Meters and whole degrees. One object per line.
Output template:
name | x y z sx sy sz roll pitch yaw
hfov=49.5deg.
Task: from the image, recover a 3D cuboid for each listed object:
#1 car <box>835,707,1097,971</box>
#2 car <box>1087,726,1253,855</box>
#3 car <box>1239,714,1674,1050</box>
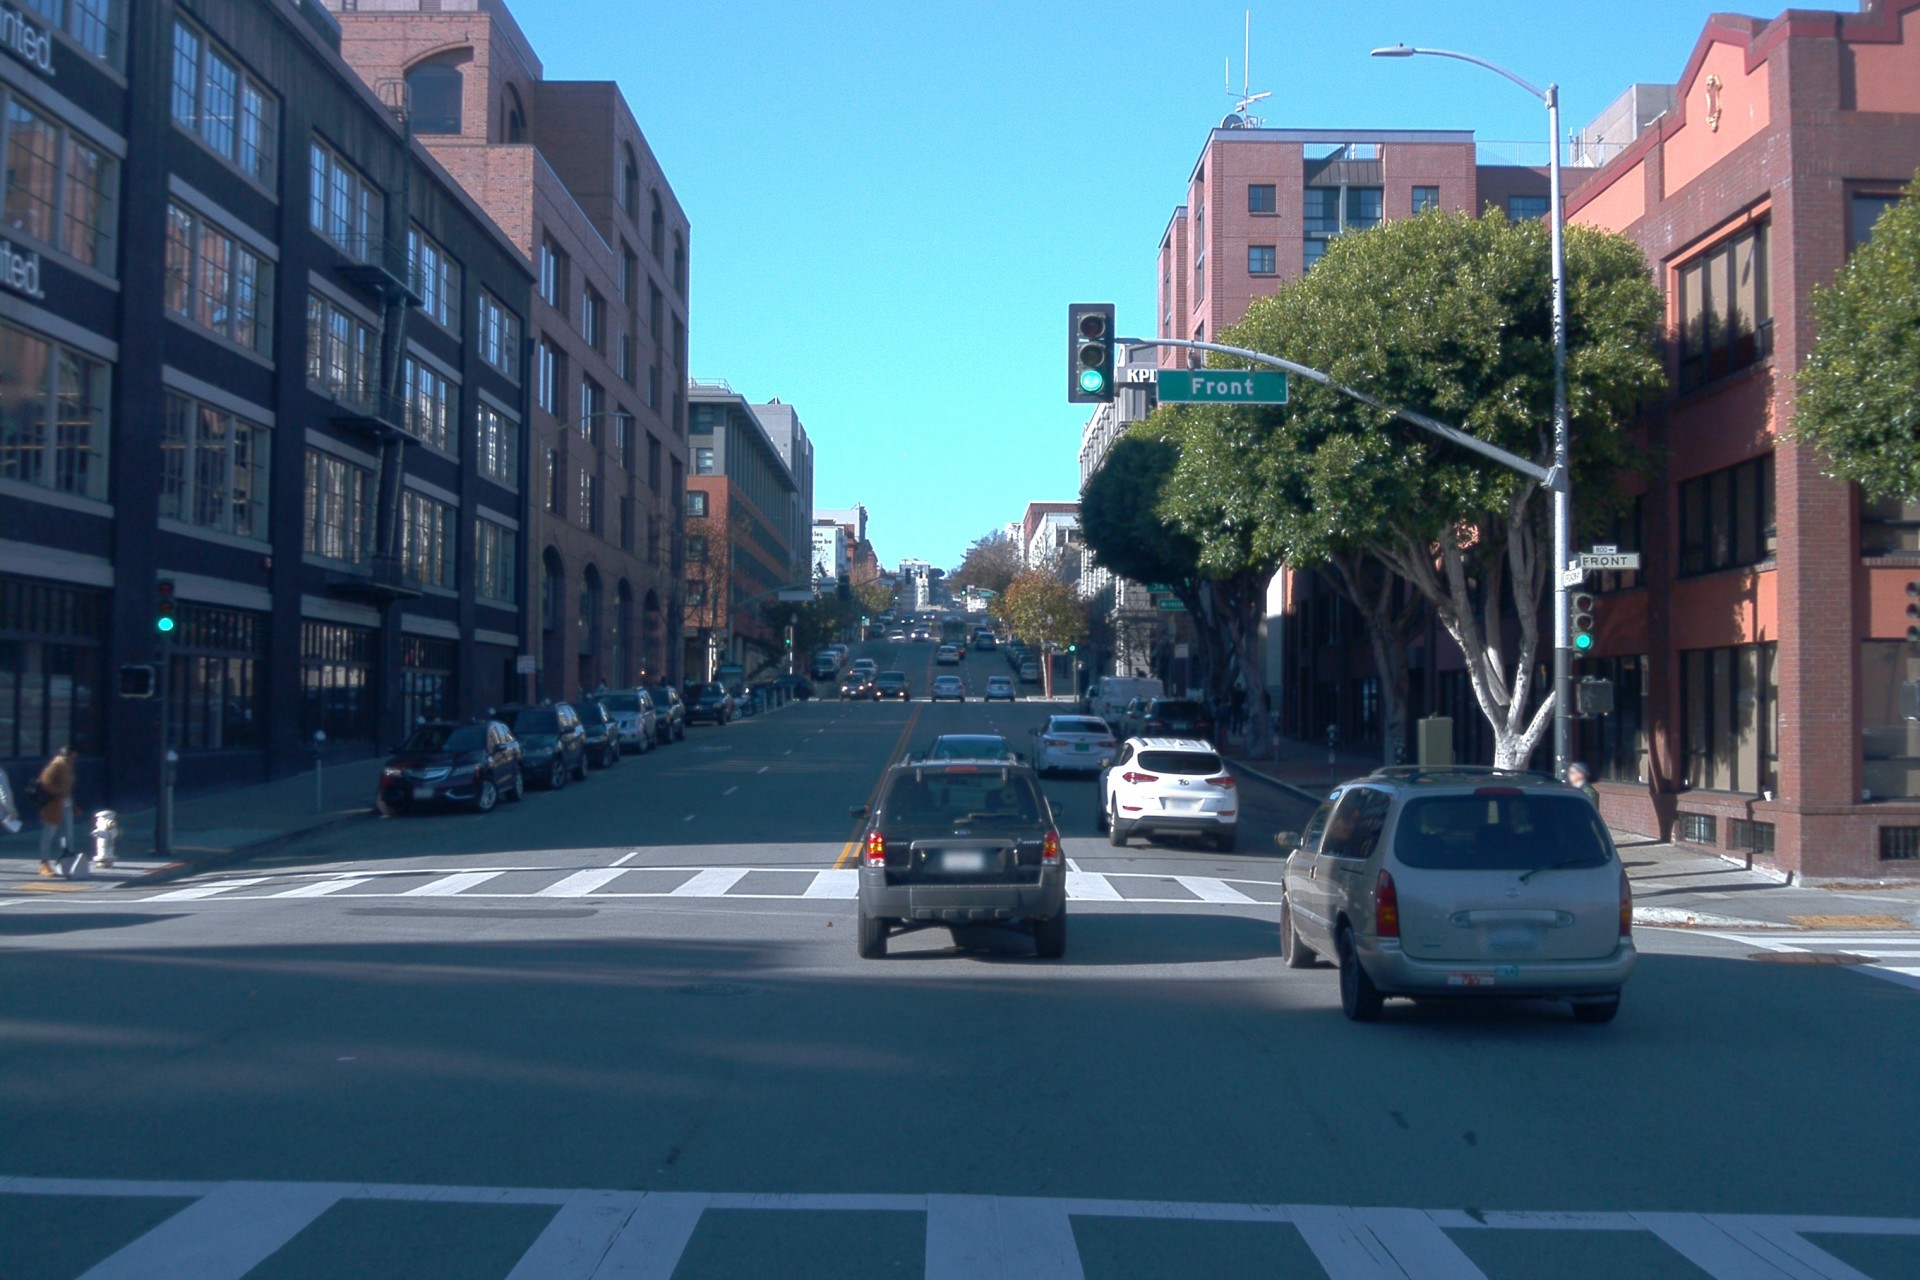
car | 0.017 1.694 19.224 2.096 2.100 4.544 1 -2 -1
car | 3.238 2.311 32.987 2.088 1.800 4.683 1 -2 -1
car | 3.494 1.626 15.668 2.113 2.070 4.763 1 -2 0
